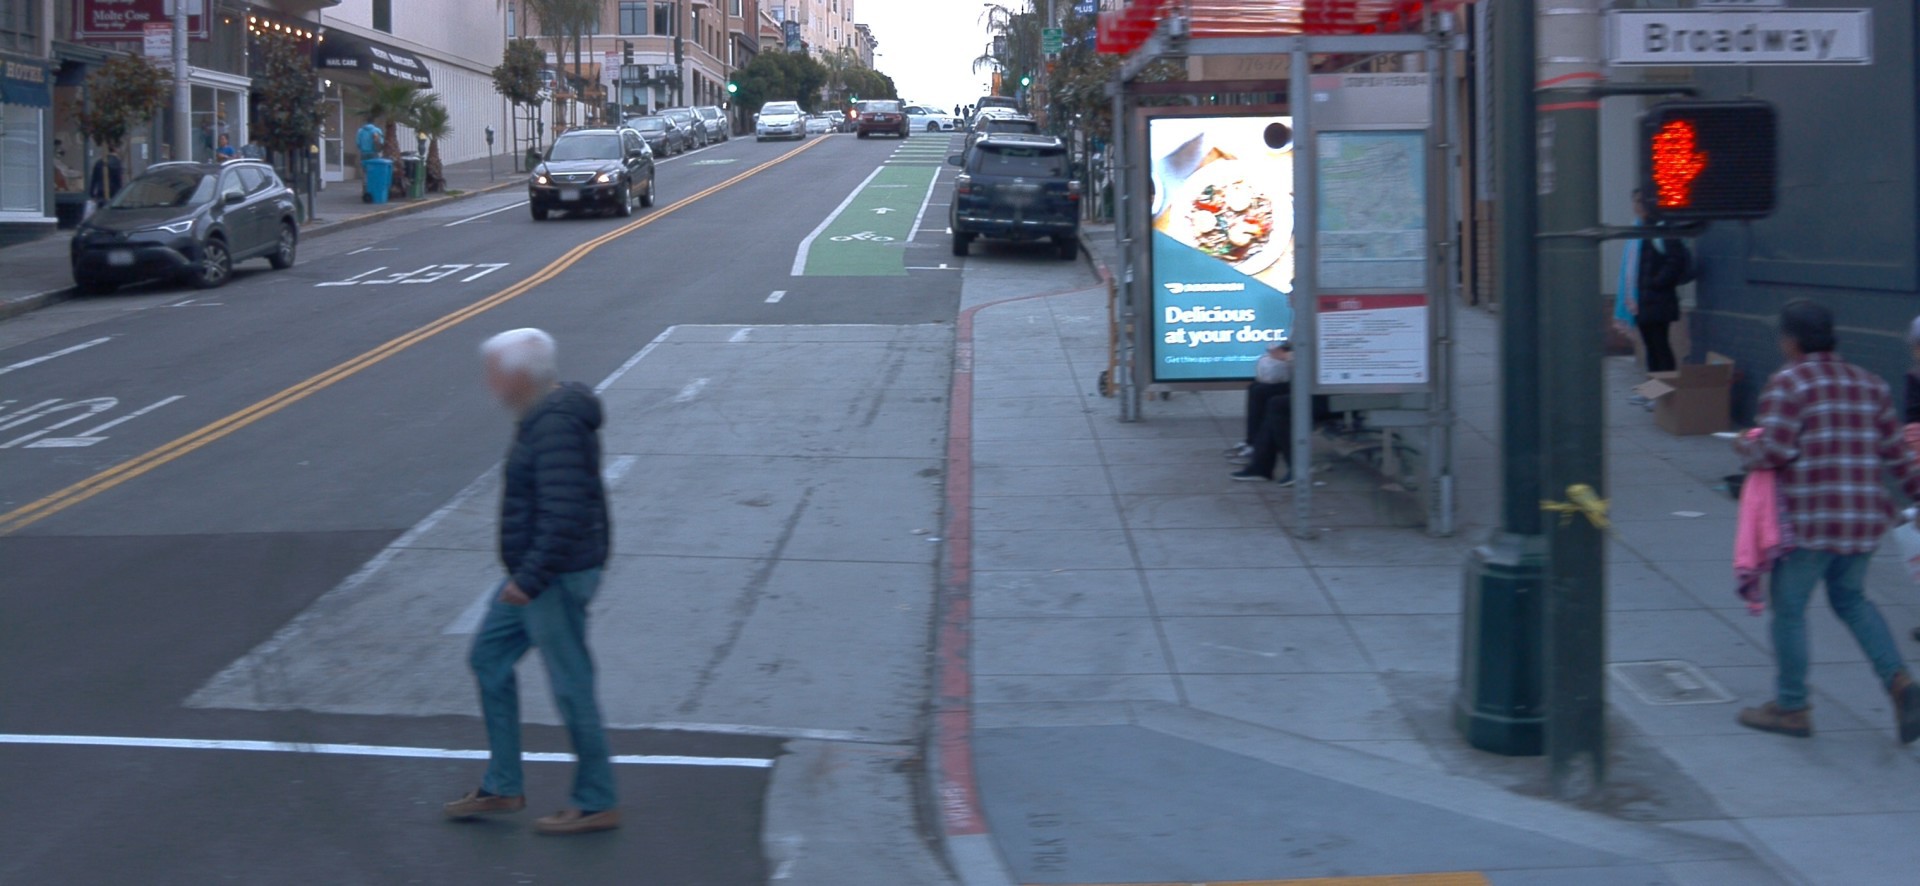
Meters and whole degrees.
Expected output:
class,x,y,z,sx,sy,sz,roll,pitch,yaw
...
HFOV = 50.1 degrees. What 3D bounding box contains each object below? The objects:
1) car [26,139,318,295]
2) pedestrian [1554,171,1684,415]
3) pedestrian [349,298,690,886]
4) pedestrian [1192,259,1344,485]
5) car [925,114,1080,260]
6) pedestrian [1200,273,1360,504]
class,x,y,z,sx,sy,sz,roll,pitch,yaw
car,-10.856,-3.144,28.690,2.153,1.992,4.461,0,5,4
pedestrian,4.769,-1.099,14.892,0.701,1.718,0.738,0,1,0
pedestrian,-1.530,0.461,7.115,1.082,1.888,0.896,0,2,-14
pedestrian,1.998,-0.485,13.424,0.909,1.428,0.652,0,2,2
car,0.663,-3.874,31.485,2.179,2.052,4.942,0,5,1
pedestrian,1.973,-0.357,12.756,0.909,1.378,0.652,0,2,2
